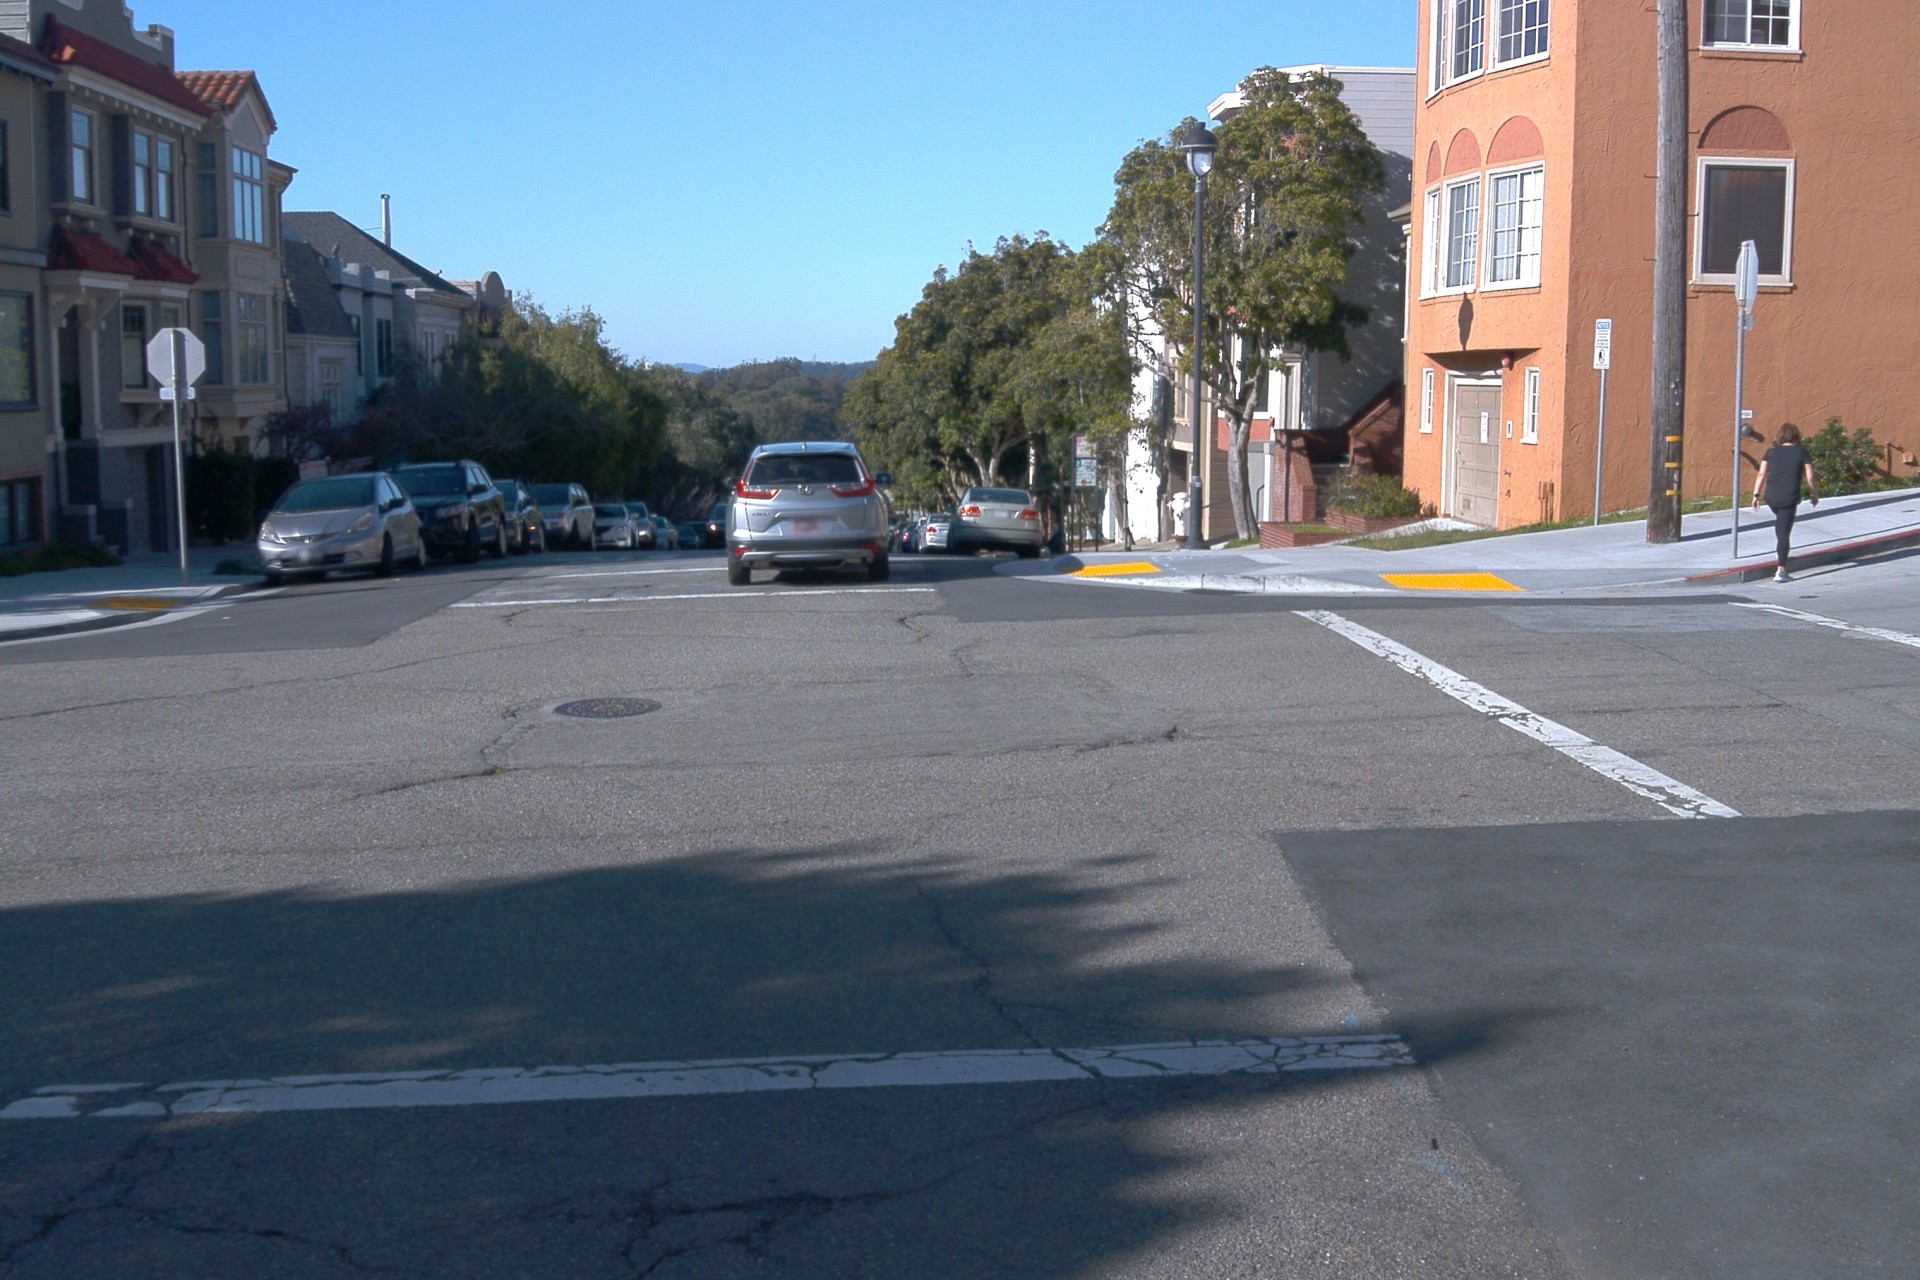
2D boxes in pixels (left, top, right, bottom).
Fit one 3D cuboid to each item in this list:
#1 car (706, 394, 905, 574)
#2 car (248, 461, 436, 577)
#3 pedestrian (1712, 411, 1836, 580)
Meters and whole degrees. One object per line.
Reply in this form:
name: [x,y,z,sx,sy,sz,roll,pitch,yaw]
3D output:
car: [-1.847,-1.802,25.297,2.190,1.800,4.696,0,0,-3]
car: [-8.655,-1.661,29.294,1.715,1.400,3.763,0,0,-3]
pedestrian: [8.300,-1.448,21.112,1.127,1.620,0.731,0,0,-41]
